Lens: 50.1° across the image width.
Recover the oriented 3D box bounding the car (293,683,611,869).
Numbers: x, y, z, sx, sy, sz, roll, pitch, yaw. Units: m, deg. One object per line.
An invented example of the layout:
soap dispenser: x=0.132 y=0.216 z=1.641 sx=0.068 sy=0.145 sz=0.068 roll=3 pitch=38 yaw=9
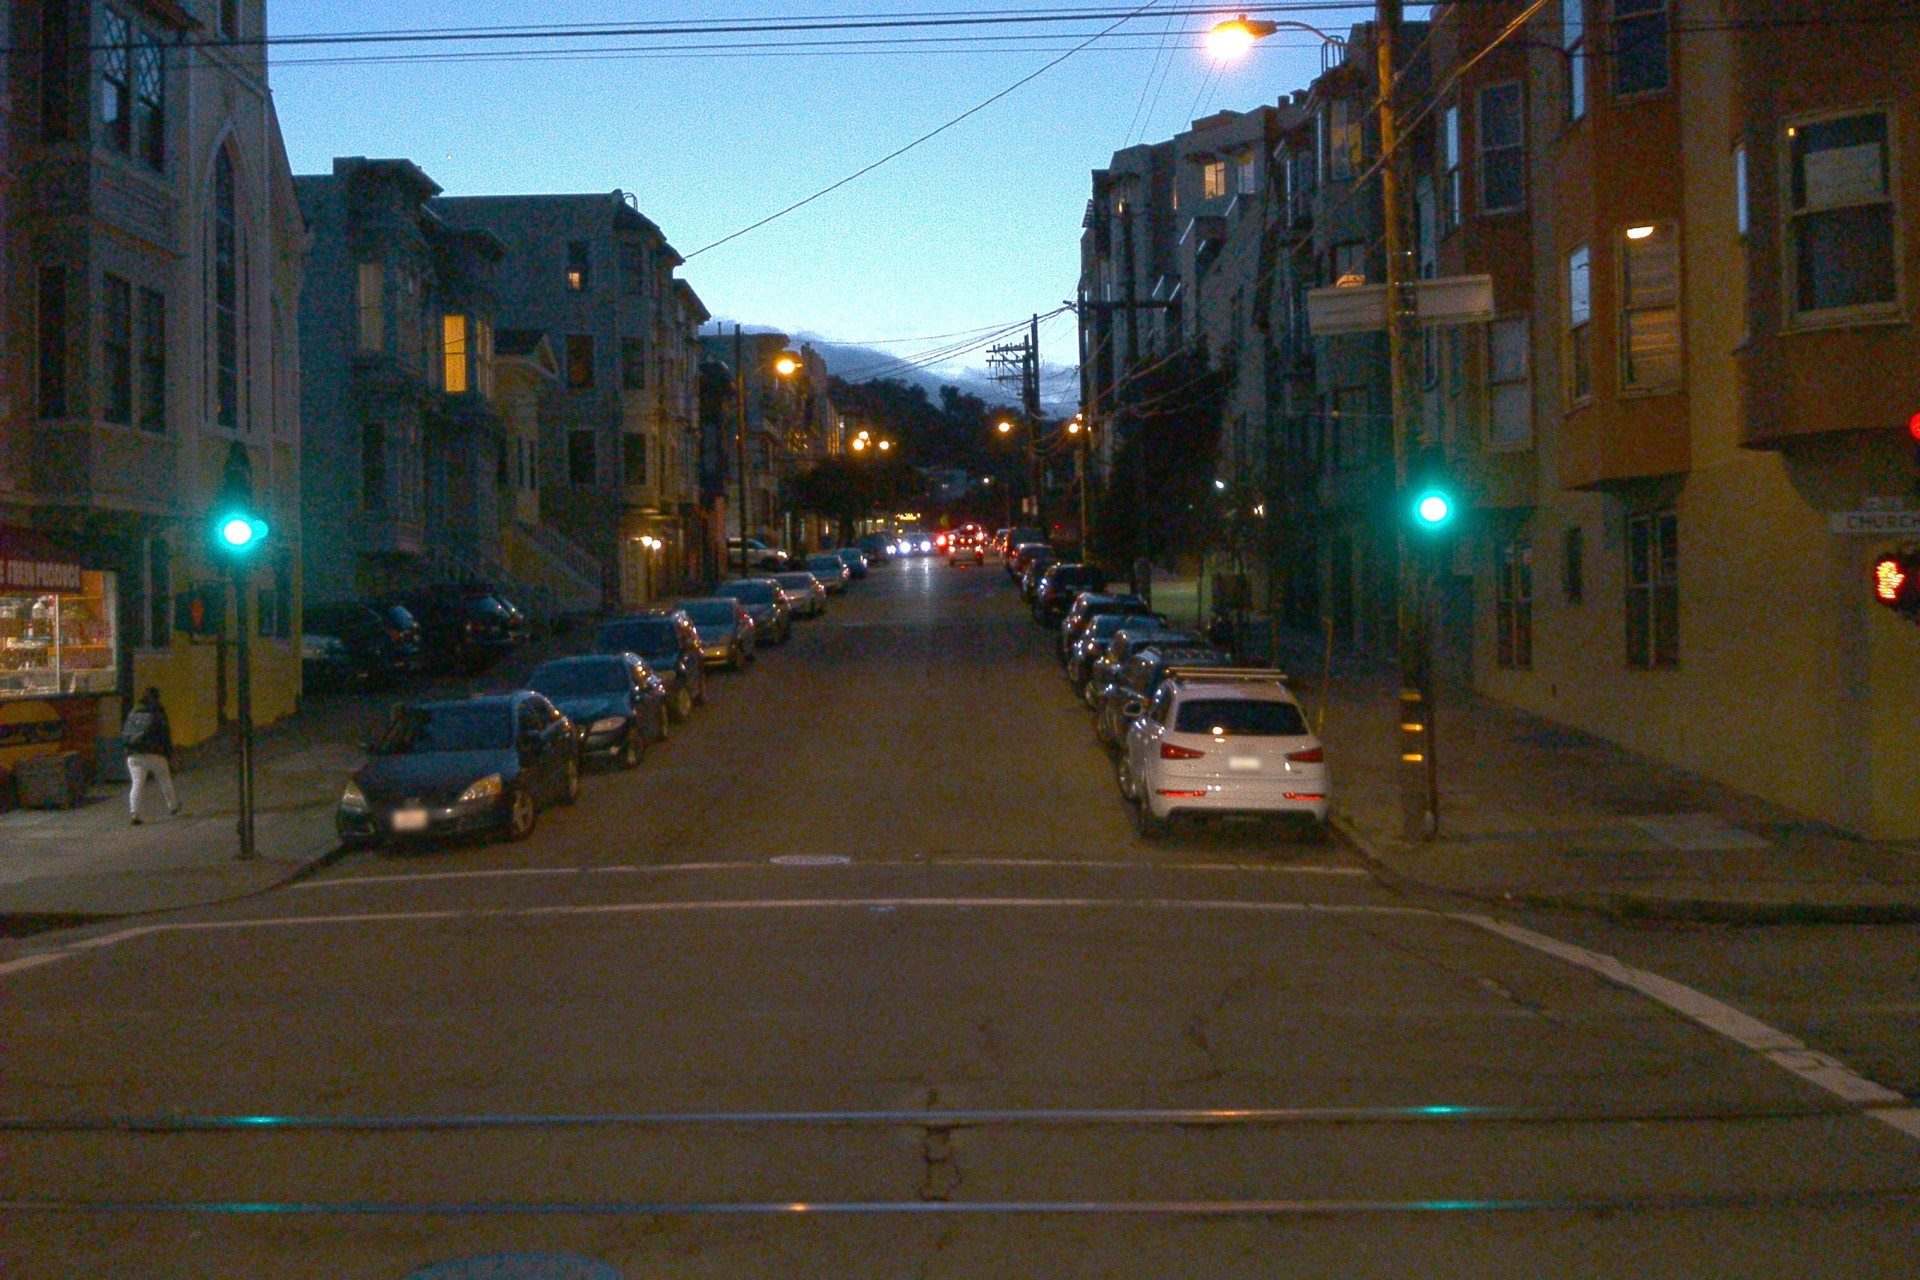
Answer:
car: x=-5.388 y=1.385 z=22.564 sx=2.208 sy=1.630 sz=4.905 roll=0 pitch=1 yaw=1

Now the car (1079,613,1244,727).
car: x=3.058 y=0.403 z=32.188 sx=2.059 sy=1.630 sz=4.560 roll=0 pitch=1 yaw=-1

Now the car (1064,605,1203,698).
car: x=3.033 y=0.159 z=36.908 sx=2.165 sy=1.550 sz=4.681 roll=0 pitch=1 yaw=1

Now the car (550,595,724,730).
car: x=-5.258 y=0.318 z=34.056 sx=2.128 sy=2.080 sz=4.426 roll=0 pitch=1 yaw=1

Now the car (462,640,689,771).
car: x=-5.235 y=0.842 z=28.748 sx=2.268 sy=1.580 sz=4.960 roll=0 pitch=1 yaw=0

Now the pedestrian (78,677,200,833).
pedestrian: x=-9.030 y=1.248 z=22.639 sx=0.924 sy=1.640 sz=0.887 roll=0 pitch=1 yaw=7

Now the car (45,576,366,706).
car: x=-13.017 y=0.006 z=35.708 sx=4.814 sy=2.170 sz=2.047 roll=0 pitch=1 yaw=-1

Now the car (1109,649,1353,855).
car: x=2.767 y=1.091 z=21.976 sx=2.081 sy=1.878 sz=4.448 roll=0 pitch=1 yaw=1

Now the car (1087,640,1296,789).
car: x=2.917 y=0.889 z=26.998 sx=2.060 sy=1.700 sz=4.832 roll=0 pitch=1 yaw=-2
